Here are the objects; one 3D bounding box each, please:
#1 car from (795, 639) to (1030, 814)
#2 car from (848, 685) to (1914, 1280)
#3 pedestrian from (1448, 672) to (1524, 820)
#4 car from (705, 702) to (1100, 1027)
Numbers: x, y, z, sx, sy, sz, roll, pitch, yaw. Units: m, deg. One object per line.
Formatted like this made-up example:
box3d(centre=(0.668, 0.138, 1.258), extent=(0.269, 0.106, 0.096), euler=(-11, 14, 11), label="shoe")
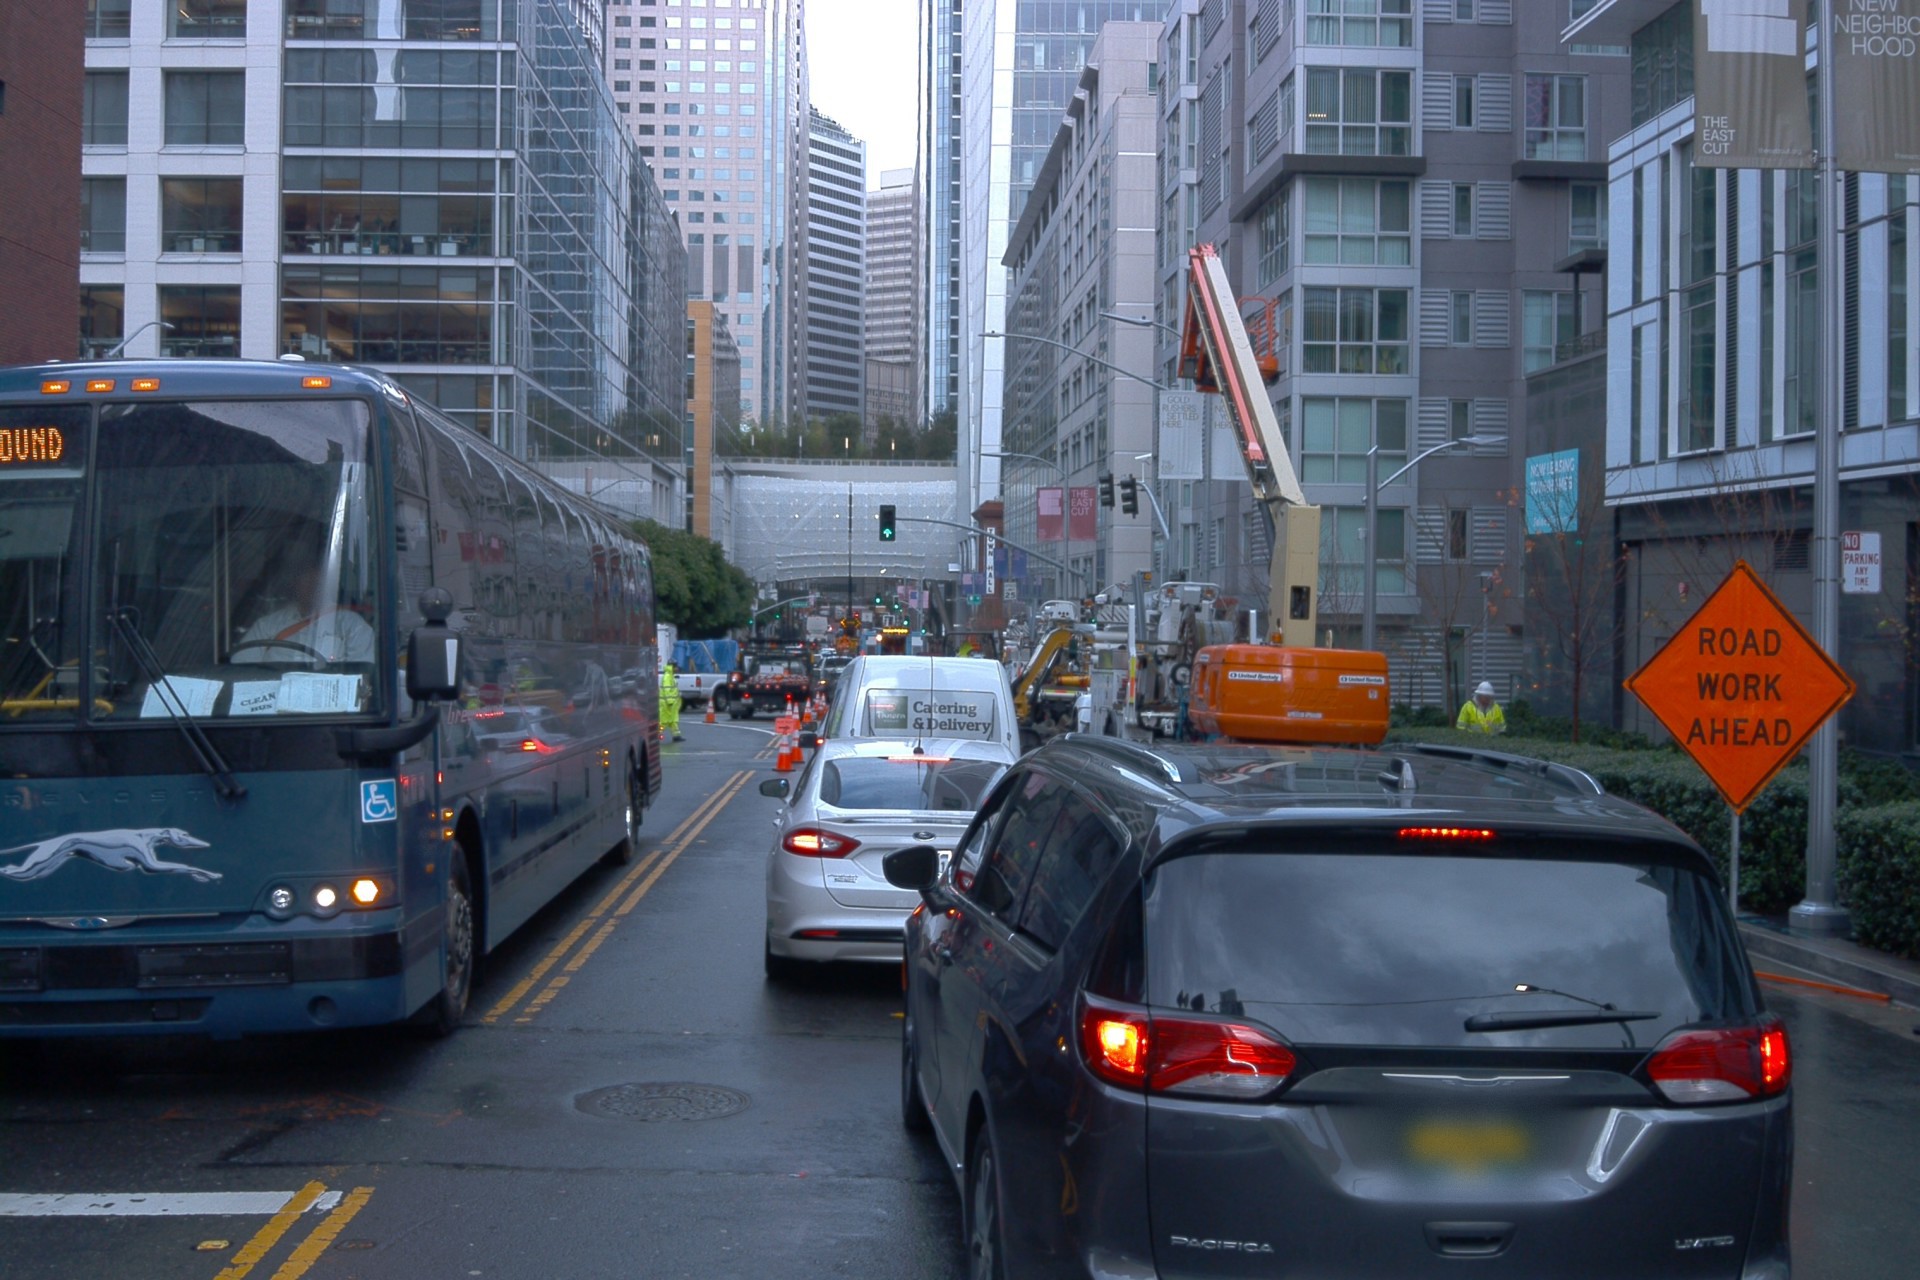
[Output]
box3d(centre=(-0.541, 0.751, 19.508), extent=(1.860, 1.470, 3.431), euler=(1, 1, -7), label="car")
box3d(centre=(0.803, 1.111, 6.811), extent=(2.058, 1.750, 4.787), euler=(1, 1, -6), label="car")
box3d(centre=(7.056, 1.411, 27.670), extent=(0.821, 1.949, 0.618), euler=(1, 0, -3), label="pedestrian")
box3d(centre=(-0.377, 1.313, 13.826), extent=(2.164, 1.580, 4.901), euler=(1, 1, -1), label="car")
